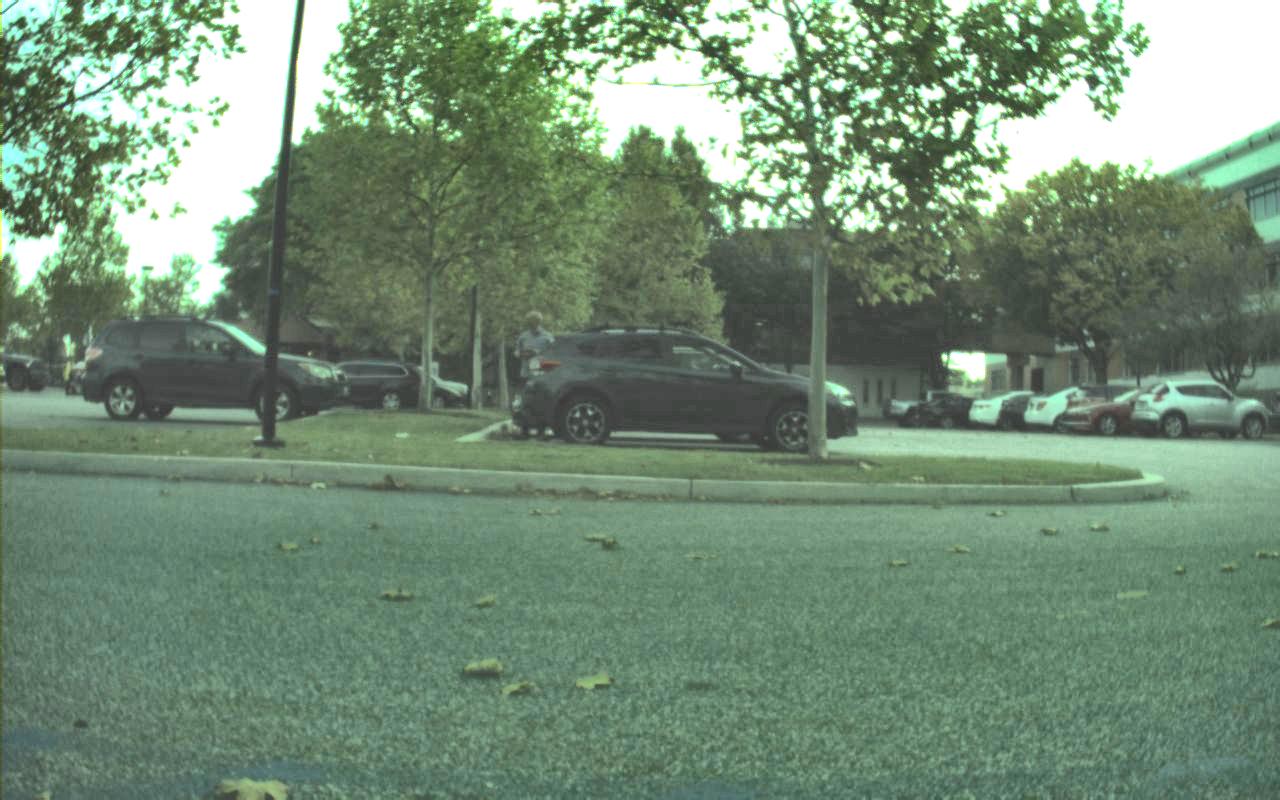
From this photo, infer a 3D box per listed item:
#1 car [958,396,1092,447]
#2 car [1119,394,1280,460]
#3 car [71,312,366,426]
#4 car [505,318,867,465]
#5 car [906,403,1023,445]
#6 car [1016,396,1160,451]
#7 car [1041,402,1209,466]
[{"bbox_3d":[13.850,0.788,43.786,4.576,1.719,1.997,0,1,0],"label":"car"},{"bbox_3d":[14.846,0.741,30.640,4.253,1.639,1.887,0,1,0],"label":"car"},{"bbox_3d":[-6.856,-0.495,19.452,4.647,1.720,2.009,0,1,-2],"label":"car"},{"bbox_3d":[0.523,-0.117,16.766,4.591,1.820,1.993,0,1,-6],"label":"car"},{"bbox_3d":[13.581,1.014,51.468,4.589,1.601,1.960,0,1,-11],"label":"car"},{"bbox_3d":[14.452,0.792,38.685,4.459,1.687,1.955,0,1,1],"label":"car"},{"bbox_3d":[13.602,0.963,33.270,4.558,1.665,1.981,0,1,0],"label":"car"}]
